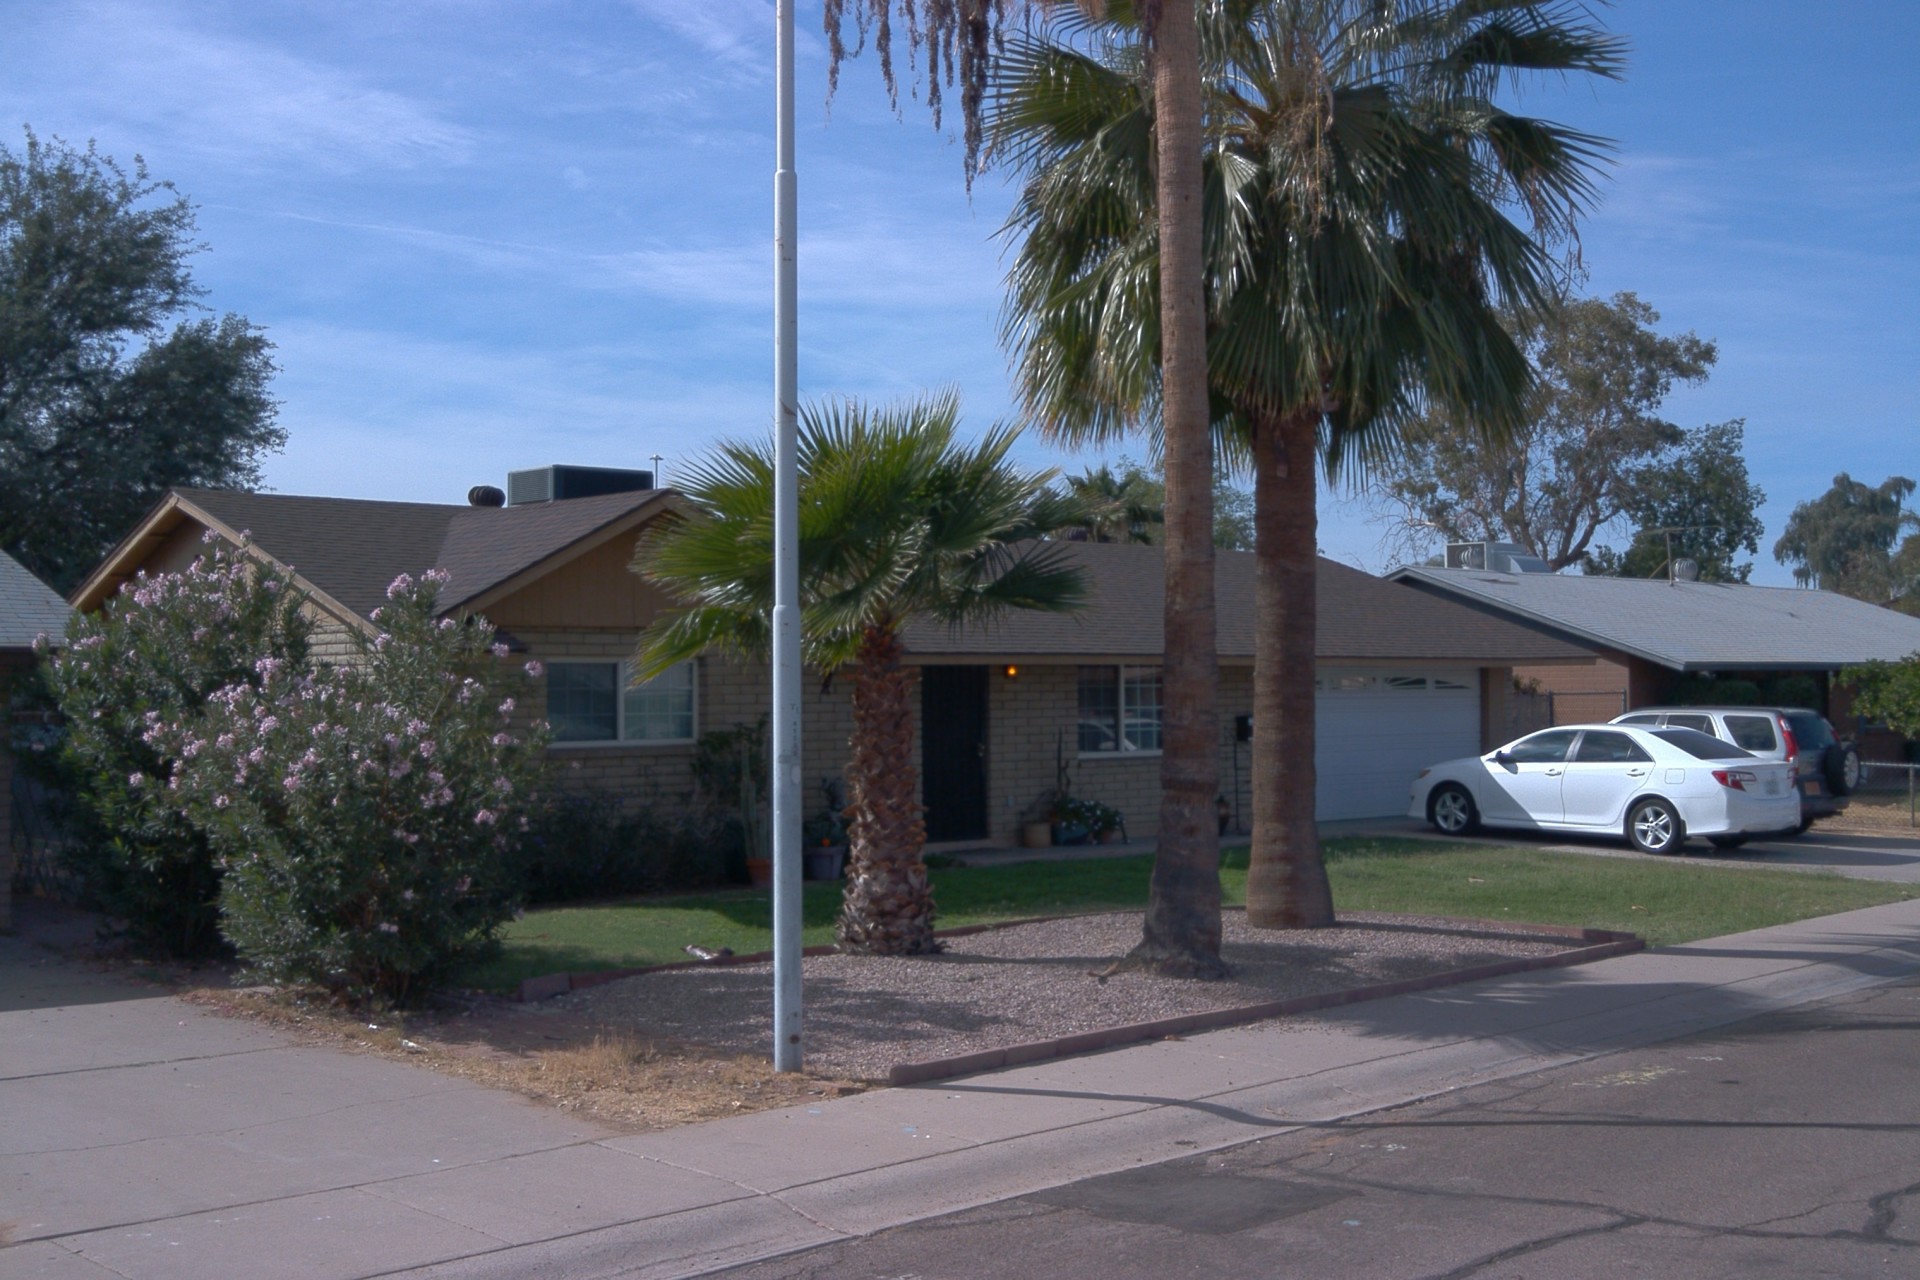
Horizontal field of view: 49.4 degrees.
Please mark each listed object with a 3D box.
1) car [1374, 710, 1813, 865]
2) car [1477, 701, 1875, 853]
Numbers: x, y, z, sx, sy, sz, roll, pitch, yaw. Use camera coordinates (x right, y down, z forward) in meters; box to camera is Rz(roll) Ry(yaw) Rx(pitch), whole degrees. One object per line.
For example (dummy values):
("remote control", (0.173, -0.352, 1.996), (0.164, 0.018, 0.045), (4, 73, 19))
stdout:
("car", (7.583, 1.695, 25.372), (2.112, 1.580, 4.722), (1, -1, -40))
("car", (9.238, 1.702, 27.180), (2.130, 1.710, 4.415), (1, -1, -44))
